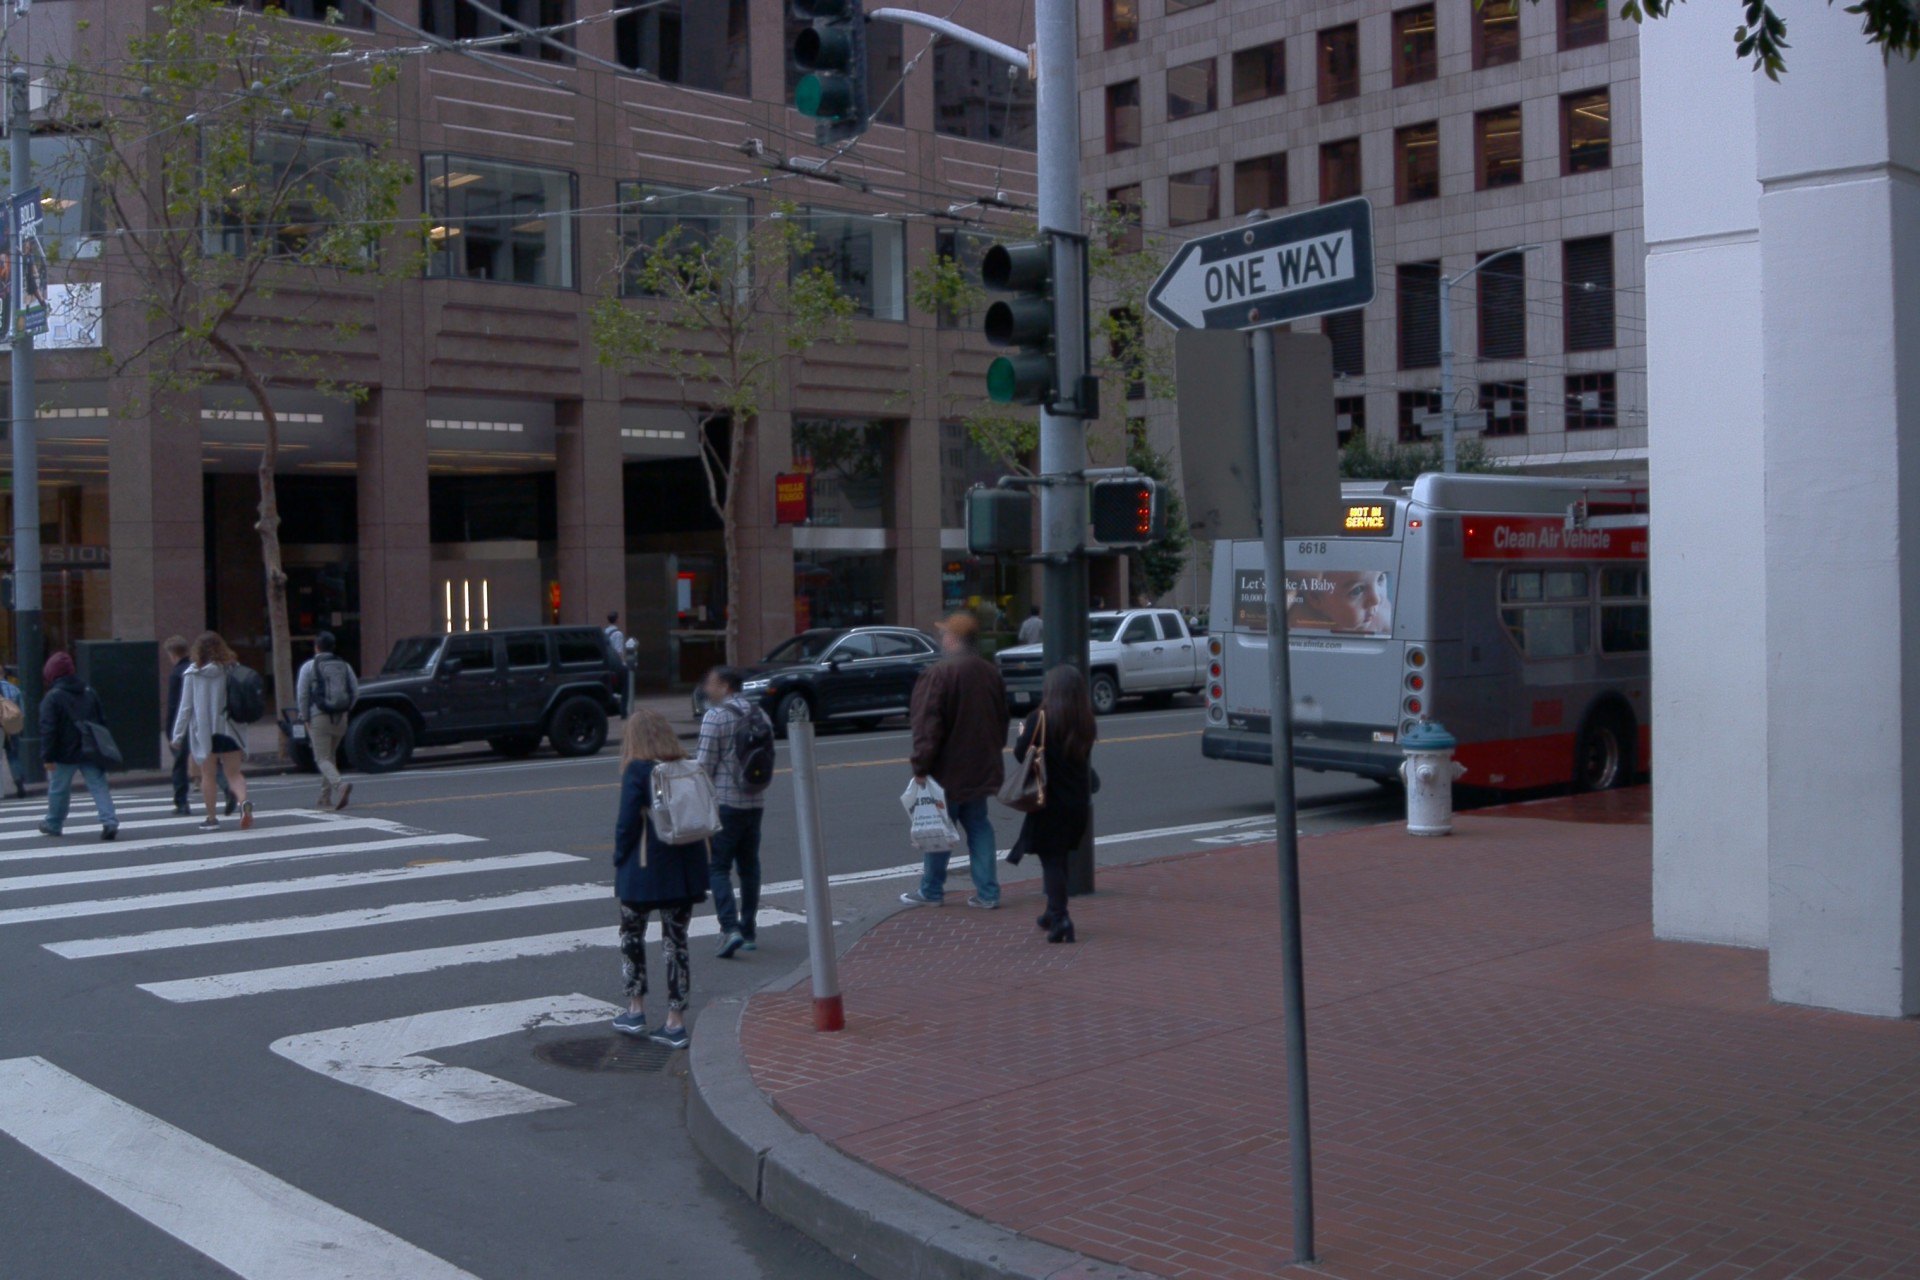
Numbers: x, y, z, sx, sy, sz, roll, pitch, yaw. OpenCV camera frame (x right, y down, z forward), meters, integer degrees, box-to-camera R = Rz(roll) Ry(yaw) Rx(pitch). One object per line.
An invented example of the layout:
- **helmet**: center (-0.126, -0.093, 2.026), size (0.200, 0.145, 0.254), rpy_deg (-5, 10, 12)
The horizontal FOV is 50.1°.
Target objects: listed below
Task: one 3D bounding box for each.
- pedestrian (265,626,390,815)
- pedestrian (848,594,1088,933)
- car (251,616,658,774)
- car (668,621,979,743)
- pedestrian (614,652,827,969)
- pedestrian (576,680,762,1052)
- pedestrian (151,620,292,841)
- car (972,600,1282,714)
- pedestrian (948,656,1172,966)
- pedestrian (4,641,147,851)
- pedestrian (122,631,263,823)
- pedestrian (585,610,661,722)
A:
- **pedestrian**: center (-6.162, 0.757, 20.020), size (0.778, 1.775, 1.057), rpy_deg (0, 0, -43)
- **pedestrian**: center (0.044, 0.712, 12.680), size (0.950, 1.968, 1.152), rpy_deg (0, 0, -41)
- **car**: center (-6.802, 0.657, 28.026), size (4.963, 1.950, 2.149), rpy_deg (-1, 1, -43)
- **car**: center (-2.080, 0.588, 32.205), size (4.539, 1.770, 2.126), rpy_deg (-1, 1, -43)
- **pedestrian**: center (-1.462, 0.989, 12.532), size (1.066, 1.816, 0.777), rpy_deg (0, 0, 43)
- **pedestrian**: center (-1.474, 1.080, 10.309), size (0.750, 1.726, 0.988), rpy_deg (0, 0, -18)
- **pedestrian**: center (-6.431, 0.756, 17.898), size (0.838, 1.856, 0.966), rpy_deg (0, 0, -42)
- **car**: center (3.089, 0.245, 37.015), size (2.385, 1.890, 5.778), rpy_deg (0, 1, 45)
- **pedestrian**: center (0.544, 0.902, 11.422), size (0.870, 1.606, 0.970), rpy_deg (0, 0, -27)
- **pedestrian**: center (-7.511, 0.868, 17.458), size (0.975, 1.713, 0.753), rpy_deg (0, 0, 39)
- **pedestrian**: center (-7.208, 0.783, 19.310), size (1.004, 1.736, 0.850), rpy_deg (0, 0, 39)
- **pedestrian**: center (-5.528, 0.407, 33.726), size (0.943, 1.806, 0.773), rpy_deg (0, 0, -41)
